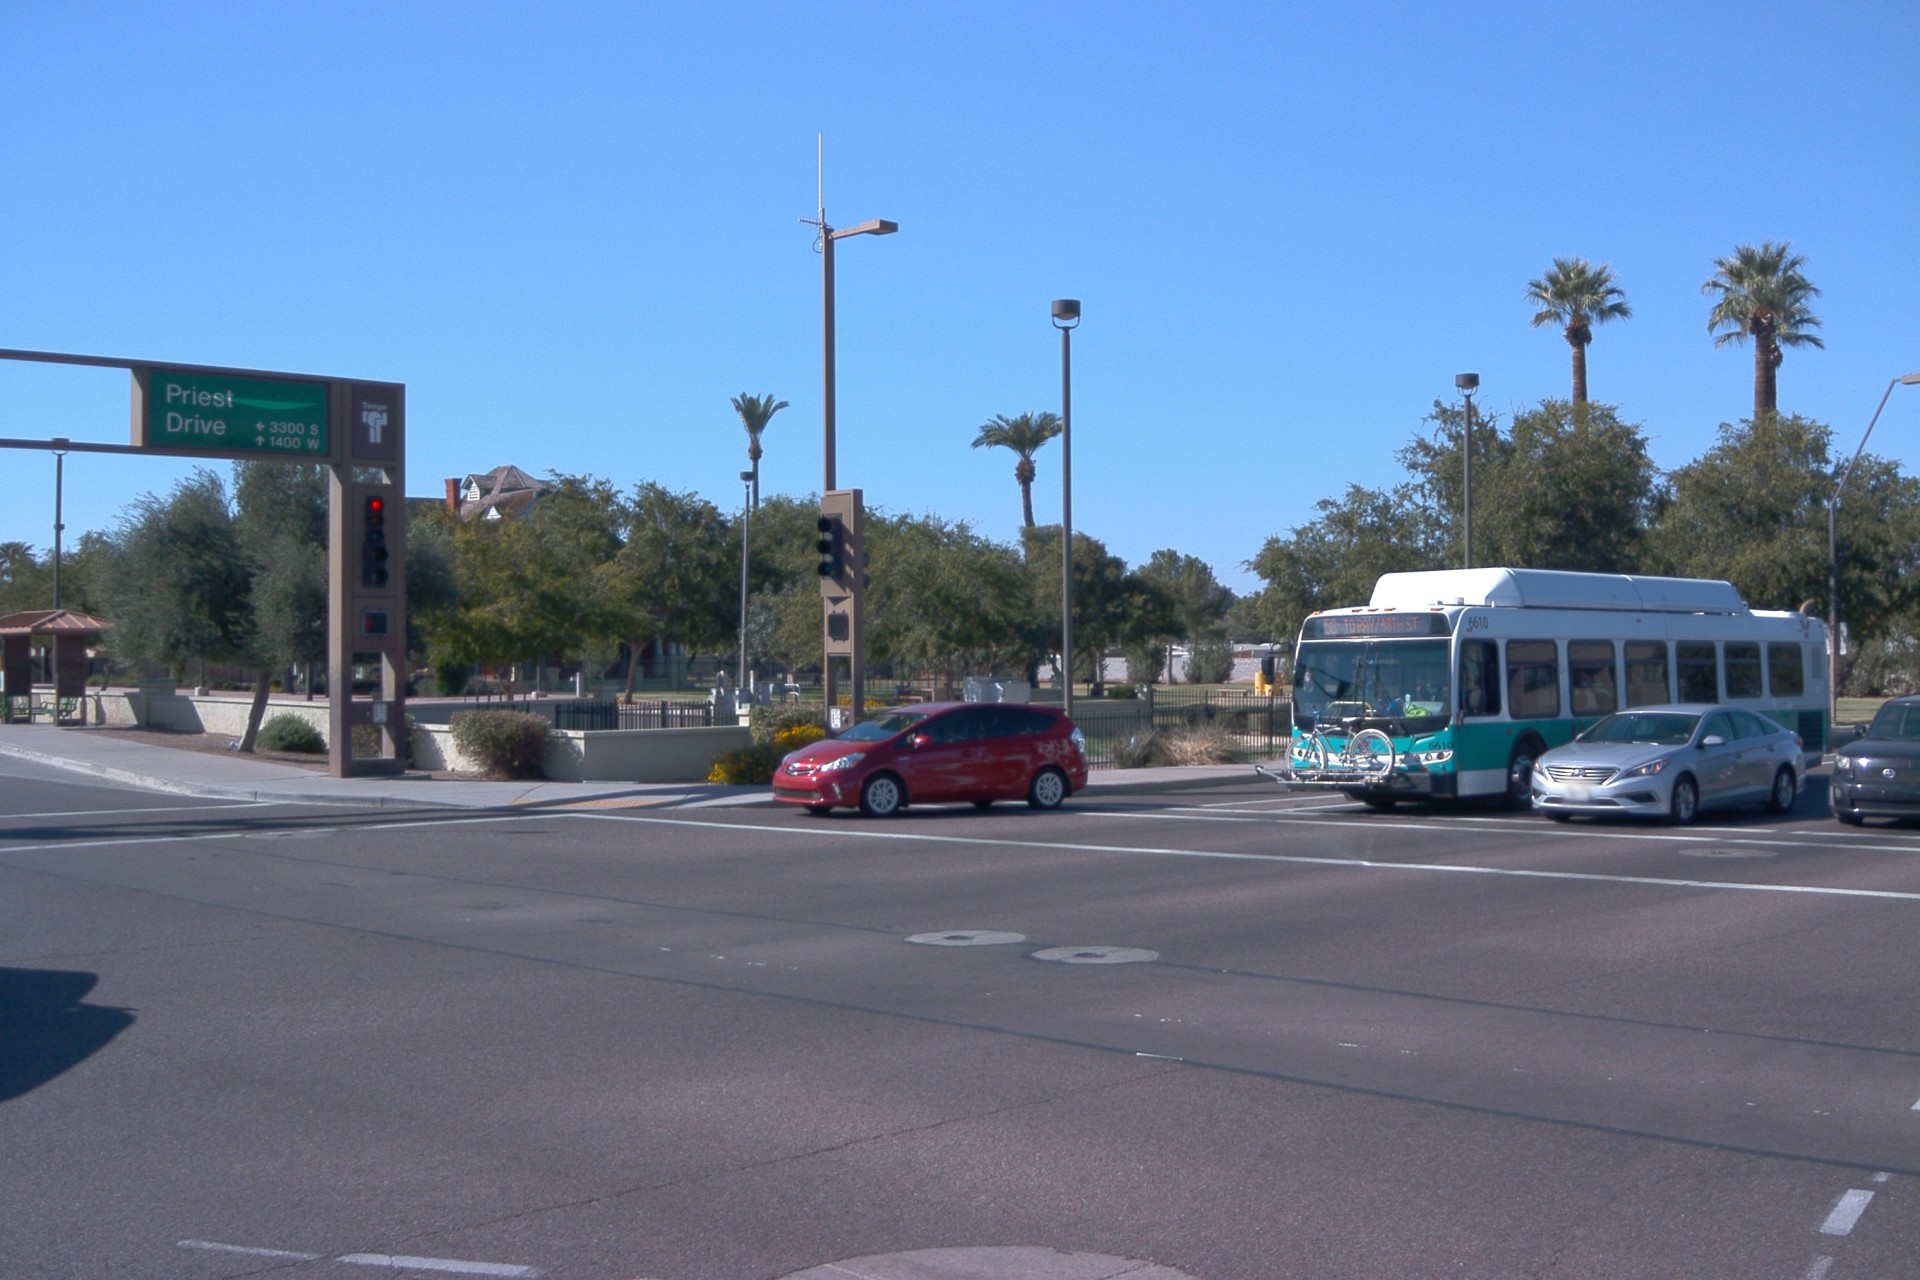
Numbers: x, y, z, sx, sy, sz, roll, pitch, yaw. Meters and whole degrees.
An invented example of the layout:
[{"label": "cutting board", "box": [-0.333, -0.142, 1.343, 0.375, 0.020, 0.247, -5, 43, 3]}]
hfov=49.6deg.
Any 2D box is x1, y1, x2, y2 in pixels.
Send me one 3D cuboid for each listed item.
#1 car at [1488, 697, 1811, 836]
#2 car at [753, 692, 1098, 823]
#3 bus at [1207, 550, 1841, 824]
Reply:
[{"label": "car", "box": [8.965, 1.547, 26.776, 2.060, 1.500, 4.840, 0, 0, 44]}, {"label": "car", "box": [-0.447, 1.593, 29.314, 4.583, 1.620, 1.930, 0, 0, -35]}, {"label": "bus", "box": [9.190, 0.599, 31.792, 3.215, 3.400, 13.487, 0, 0, 44]}]
